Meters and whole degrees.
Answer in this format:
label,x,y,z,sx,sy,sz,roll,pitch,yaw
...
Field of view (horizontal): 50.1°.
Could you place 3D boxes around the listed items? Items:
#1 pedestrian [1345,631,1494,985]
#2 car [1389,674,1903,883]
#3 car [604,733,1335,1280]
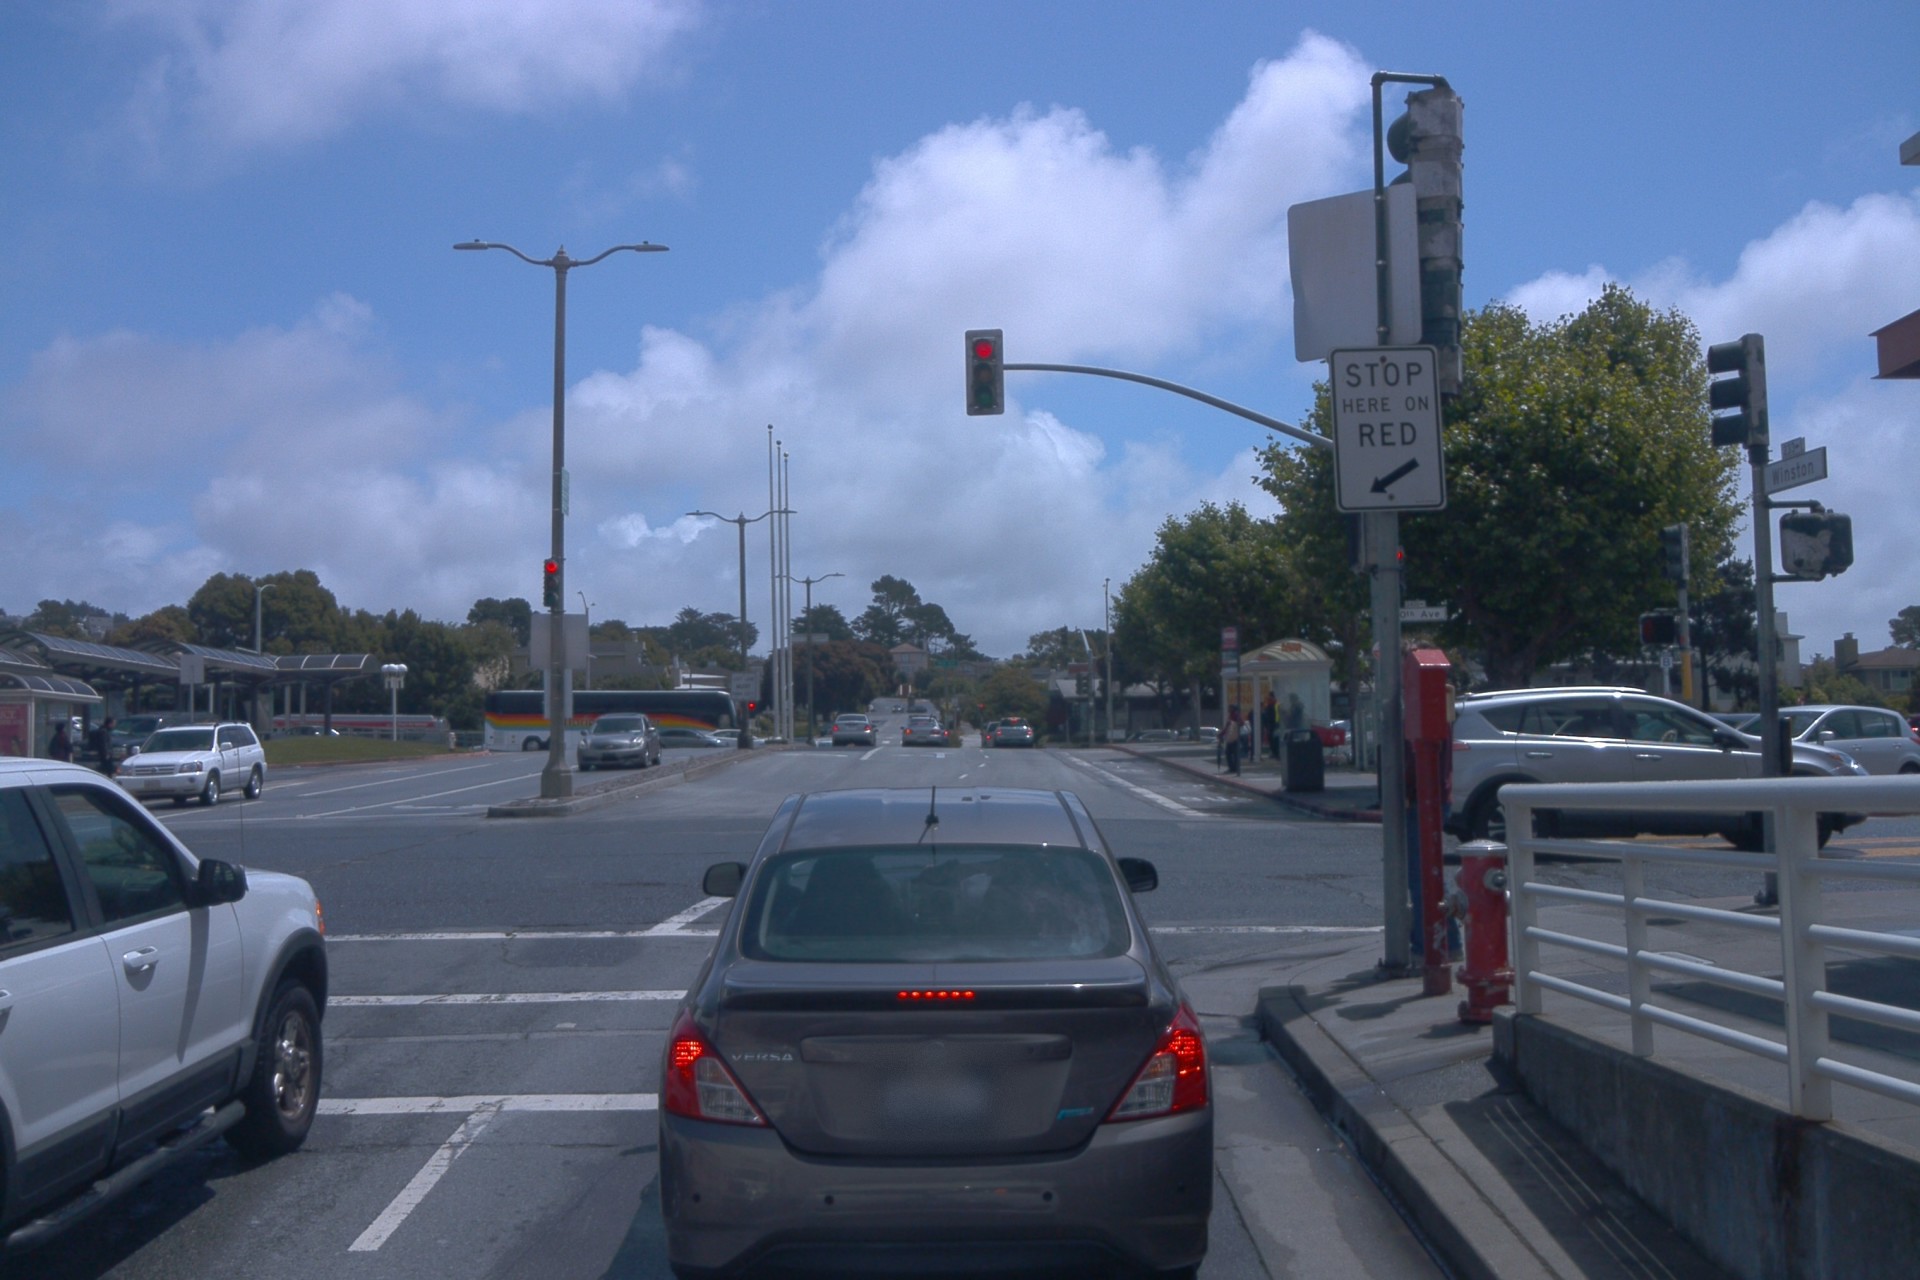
label,x,y,z,sx,sy,sz,roll,pitch,yaw
pedestrian,2.573,0.906,11.559,0.594,1.910,0.830,0,1,-5
car,6.710,1.324,20.600,4.517,1.900,2.127,0,1,6
car,-0.069,1.260,7.573,1.939,1.580,4.232,0,1,-3
